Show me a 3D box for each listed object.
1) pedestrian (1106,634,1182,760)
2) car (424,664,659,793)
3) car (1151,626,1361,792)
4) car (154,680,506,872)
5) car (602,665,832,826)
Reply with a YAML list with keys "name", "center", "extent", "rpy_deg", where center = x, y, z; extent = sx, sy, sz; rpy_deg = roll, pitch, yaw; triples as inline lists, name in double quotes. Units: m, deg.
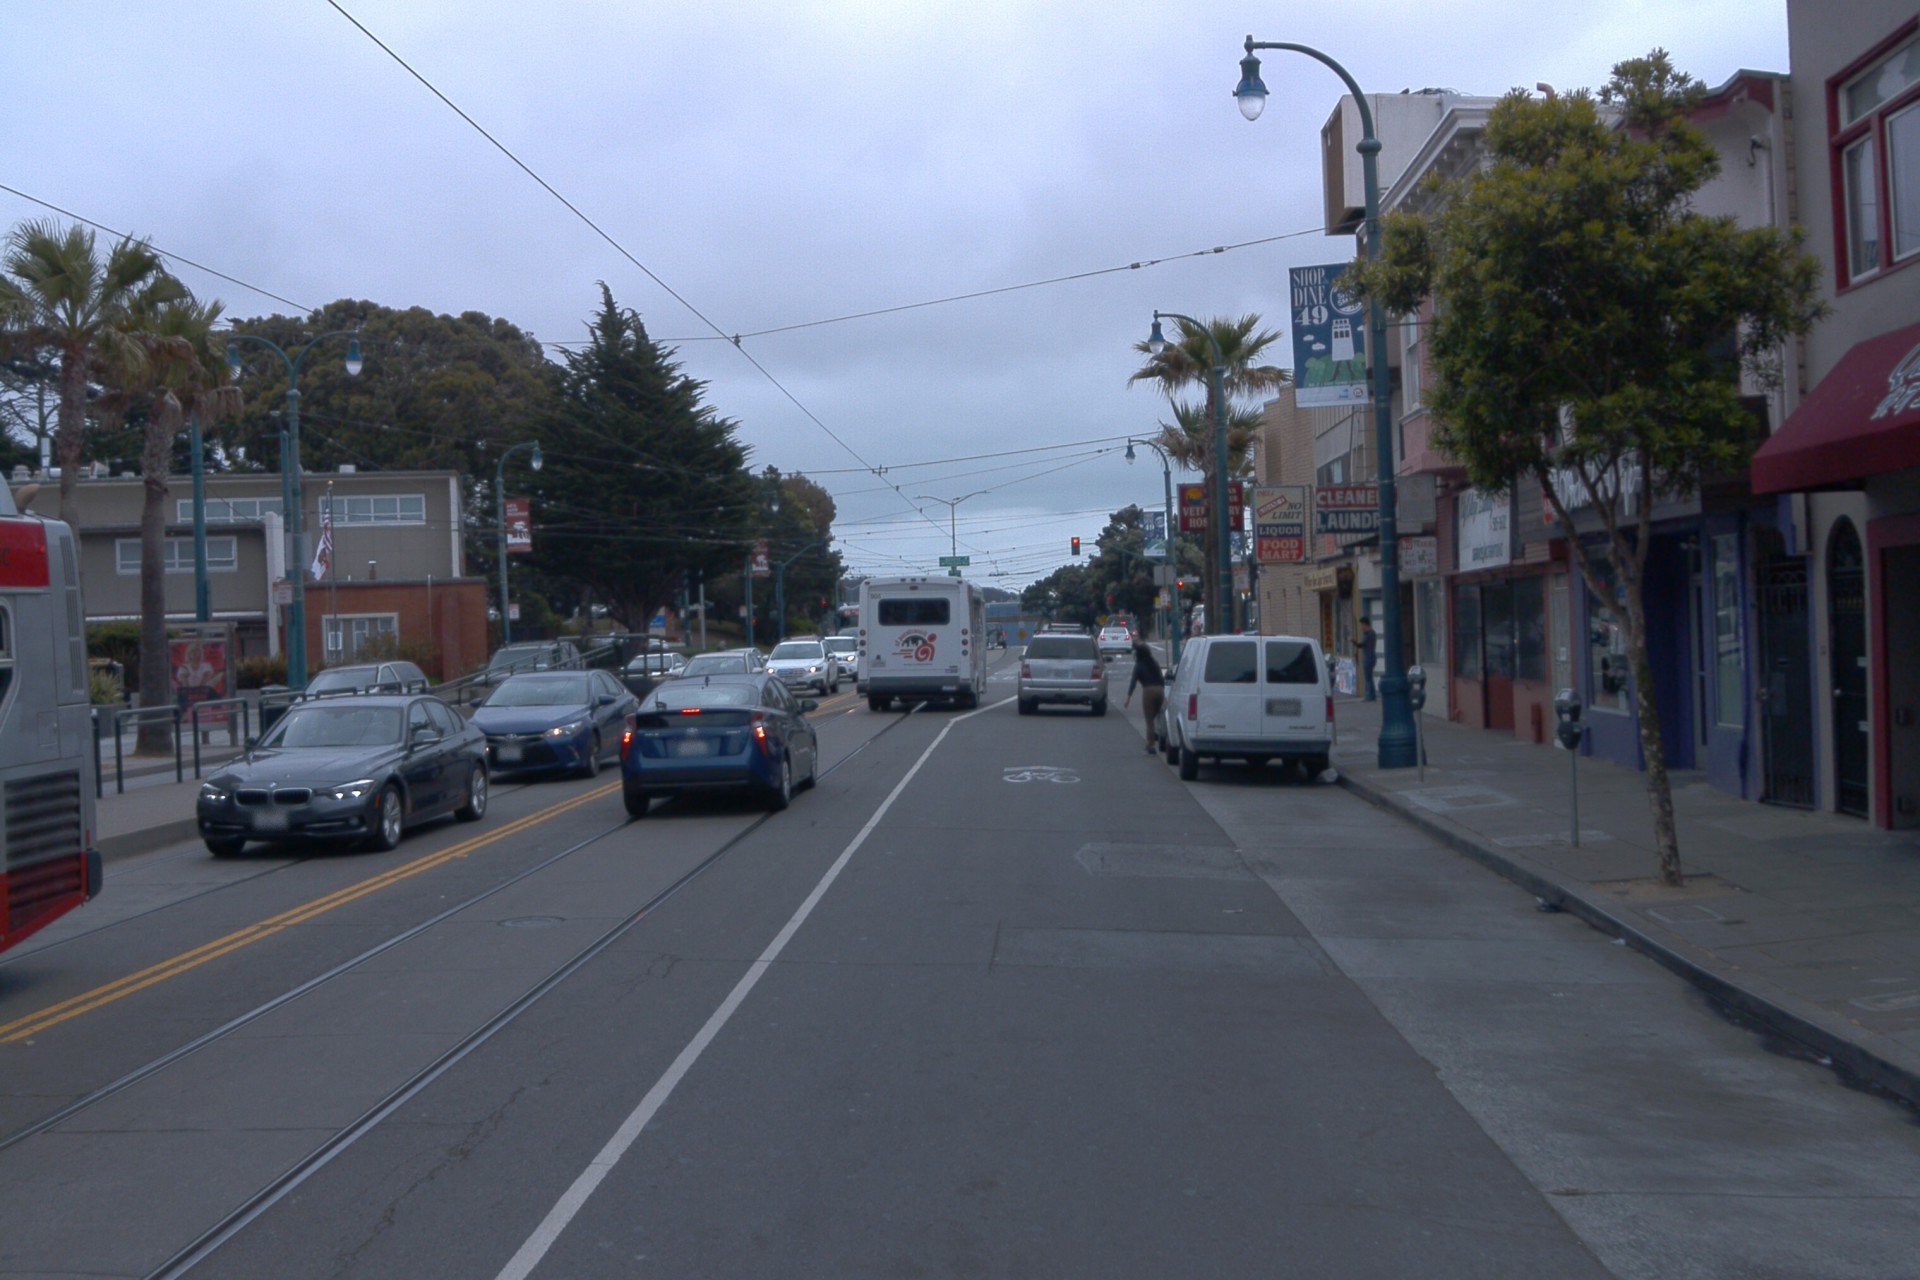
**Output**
- name: "pedestrian"
  center: [2.795, 0.854, 31.371]
  extent: [0.849, 1.860, 0.981]
  rpy_deg: [-1, 1, -16]
- name: "car"
  center: [-5.794, 1.177, 29.157]
  extent: [2.124, 1.540, 4.823]
  rpy_deg: [0, 1, 3]
- name: "car"
  center: [3.884, 0.843, 27.862]
  extent: [2.316, 2.000, 4.858]
  rpy_deg: [0, 1, 2]
- name: "car"
  center: [-6.136, 1.262, 20.664]
  extent: [1.965, 1.540, 4.640]
  rpy_deg: [0, 1, 2]
- name: "car"
  center: [-2.641, 1.113, 23.348]
  extent: [1.972, 1.540, 4.259]
  rpy_deg: [0, 1, 2]
